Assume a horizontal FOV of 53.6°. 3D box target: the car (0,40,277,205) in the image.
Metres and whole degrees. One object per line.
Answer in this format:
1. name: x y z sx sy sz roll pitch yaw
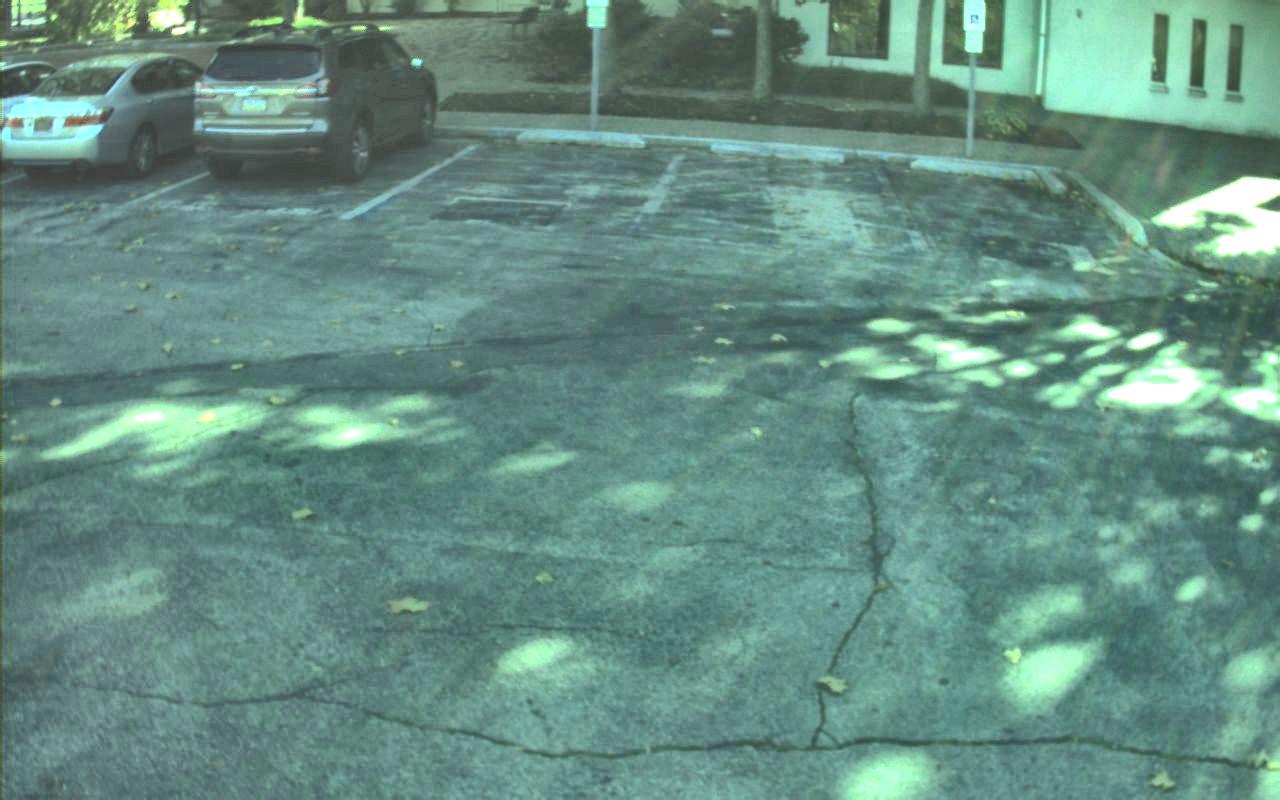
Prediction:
1. car: -6.521 -3.652 14.844 1.919 1.586 4.423 2 17 11

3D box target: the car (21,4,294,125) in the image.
1. car: -8.756 -5.991 20.579 4.813 1.677 2.042 1 16 7

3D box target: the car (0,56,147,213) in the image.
1. car: -8.948 -3.733 15.367 1.919 1.582 4.396 4 17 17

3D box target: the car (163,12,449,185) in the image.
1. car: -3.956 -3.852 14.858 2.020 1.738 4.774 1 17 6
